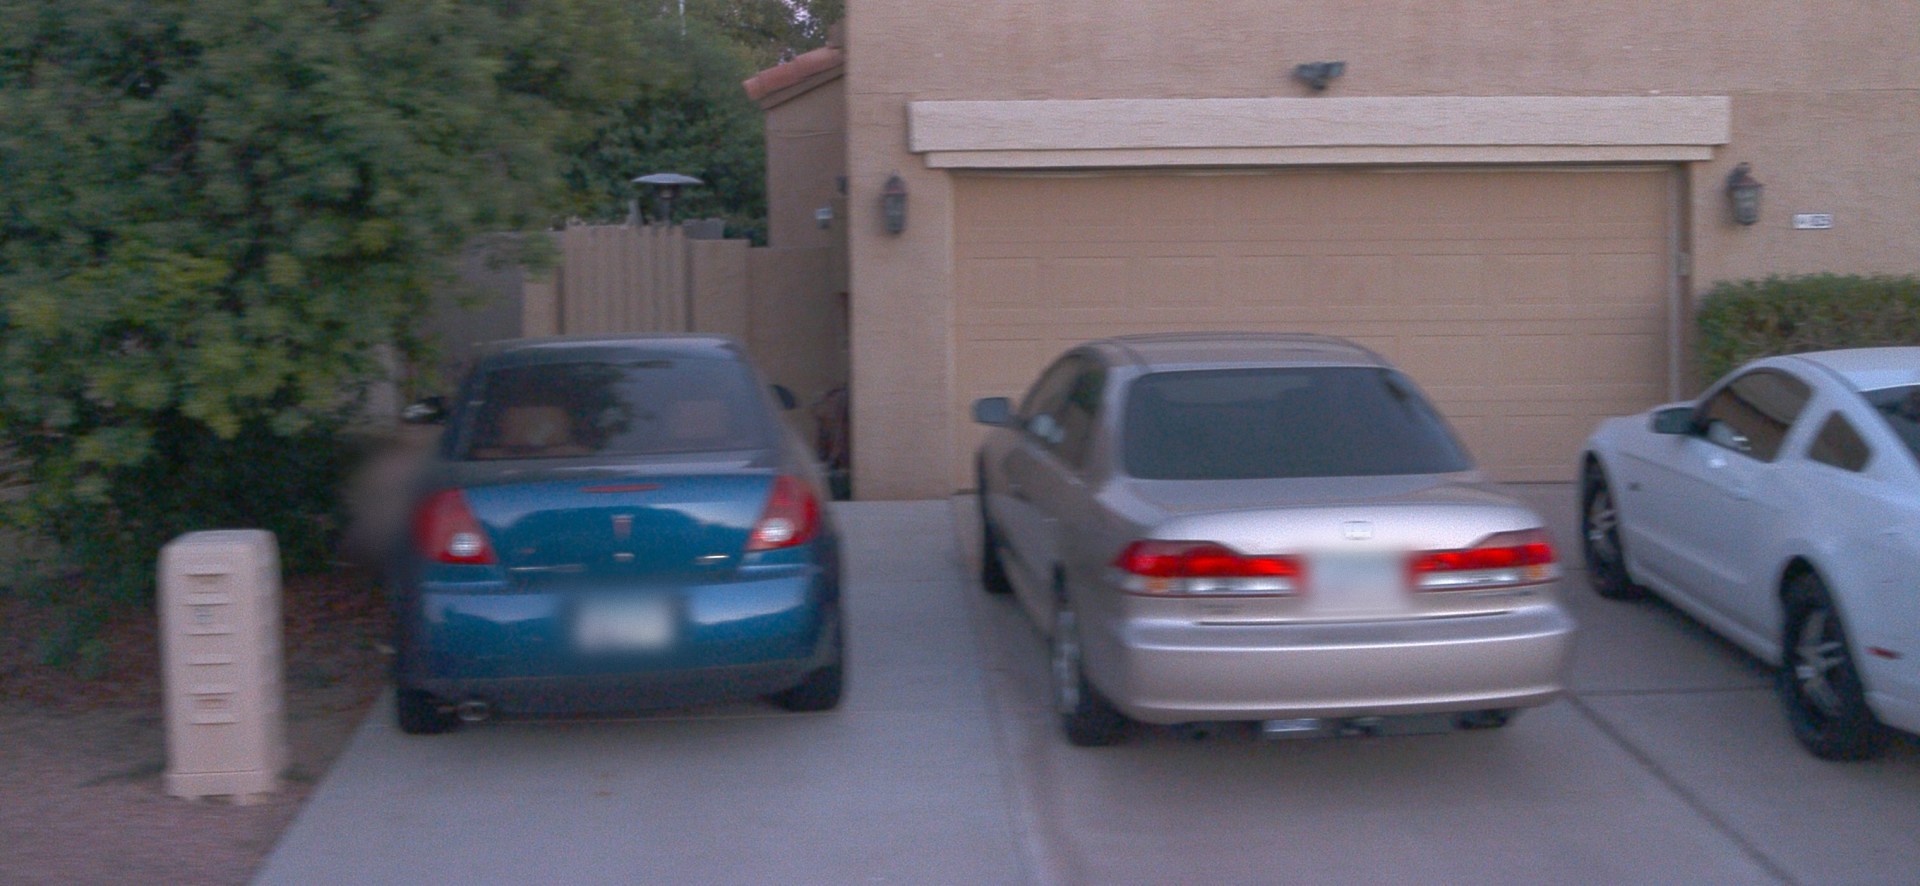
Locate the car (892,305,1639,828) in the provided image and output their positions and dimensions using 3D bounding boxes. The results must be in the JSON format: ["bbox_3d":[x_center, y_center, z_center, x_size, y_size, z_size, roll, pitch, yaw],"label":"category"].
[{"bbox_3d":[0.932,0.223,9.143,2.069,1.494,4.921,-1,5,-6],"label":"car"}]

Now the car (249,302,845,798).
[{"bbox_3d":[-1.824,0.186,9.480,1.999,1.504,4.803,-1,5,-10],"label":"car"}]
